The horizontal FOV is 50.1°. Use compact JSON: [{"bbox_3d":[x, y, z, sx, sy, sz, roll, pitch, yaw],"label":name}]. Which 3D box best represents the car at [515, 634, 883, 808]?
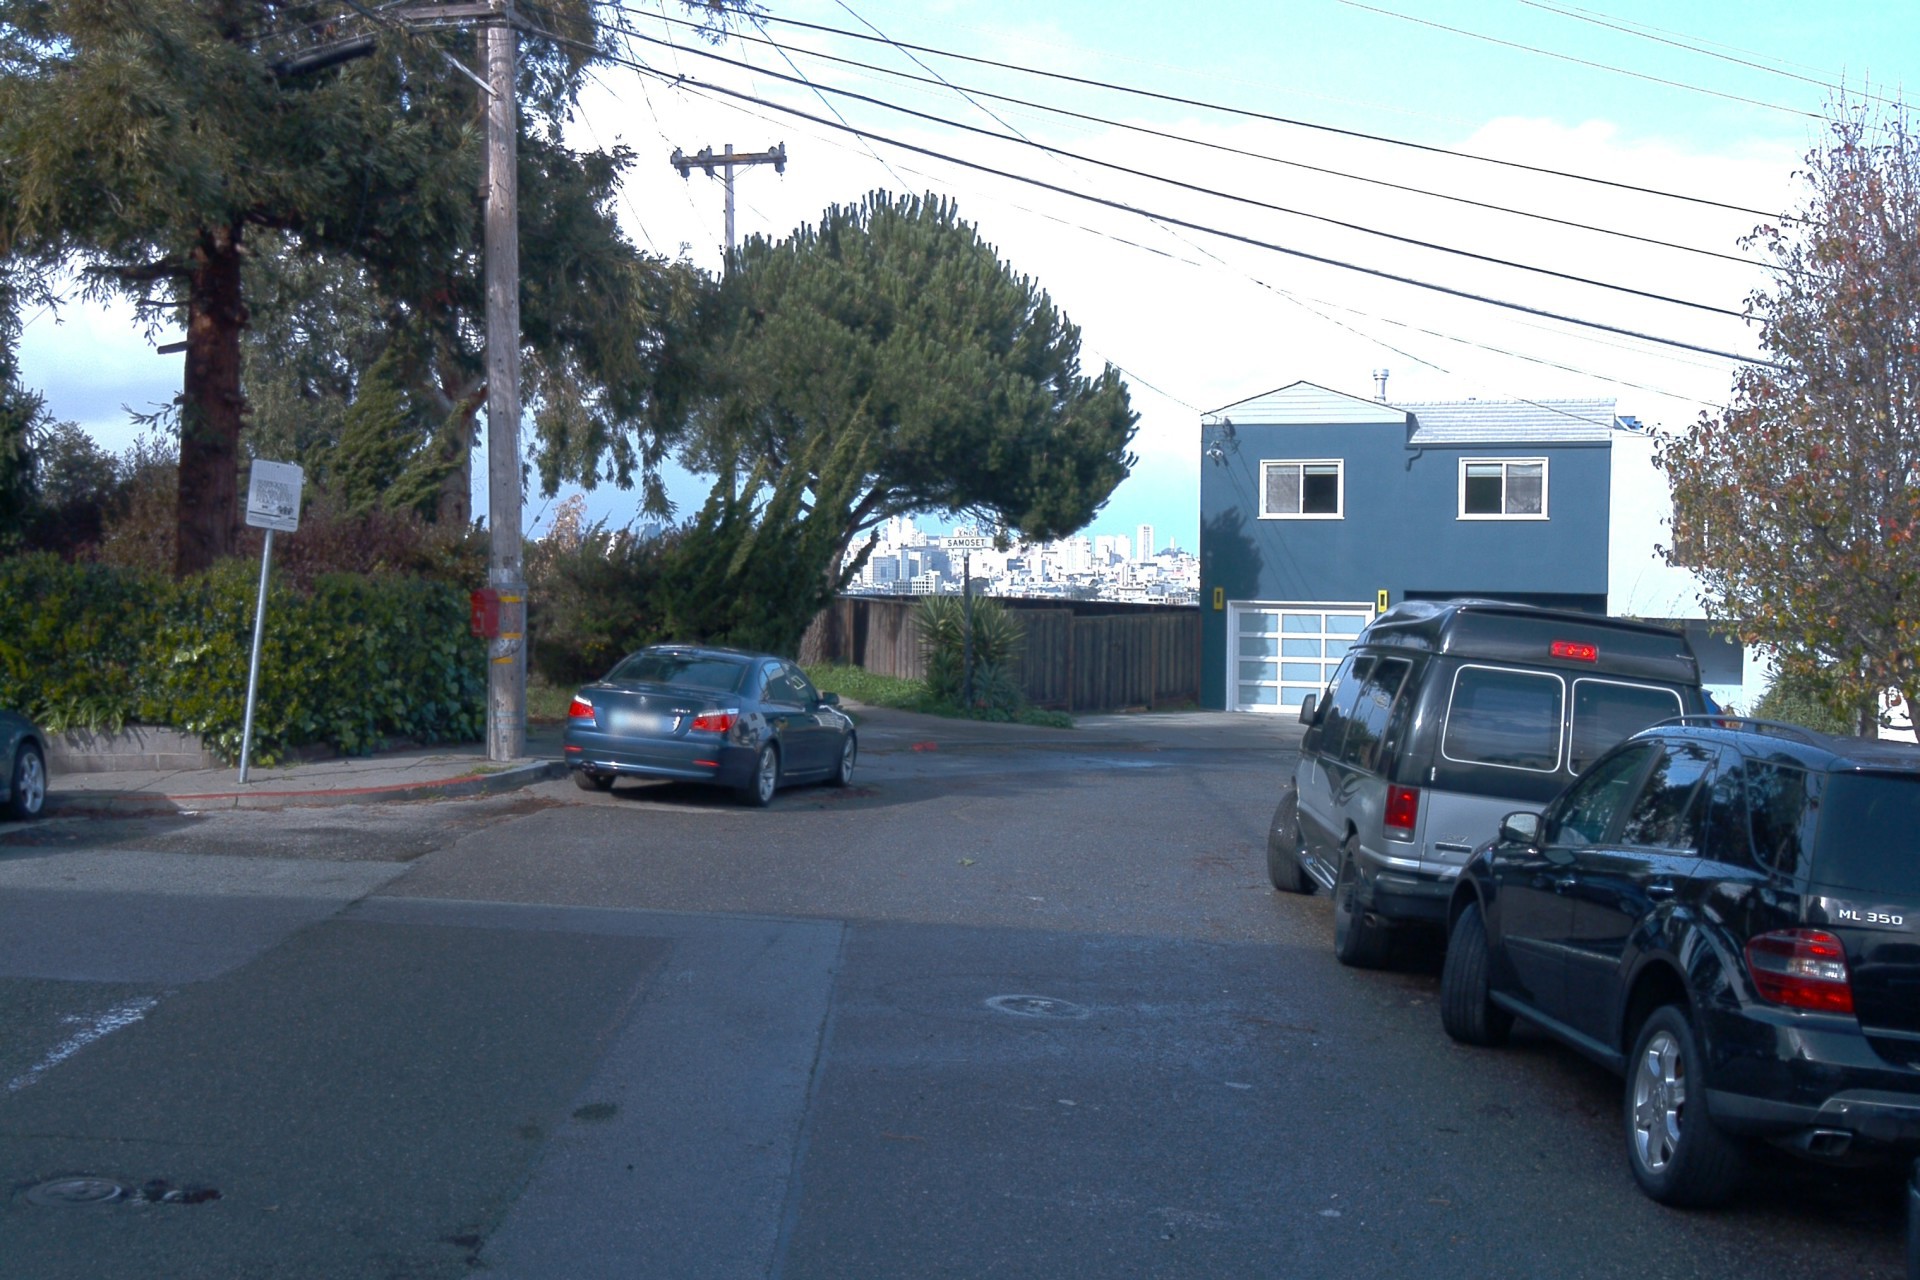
[{"bbox_3d":[-2.413,0.698,20.399,2.158,1.430,4.595,1,1,13],"label":"car"}]

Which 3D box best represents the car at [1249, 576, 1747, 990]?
[{"bbox_3d":[3.406,0.758,14.335,2.287,2.280,5.498,1,1,3],"label":"car"}]
